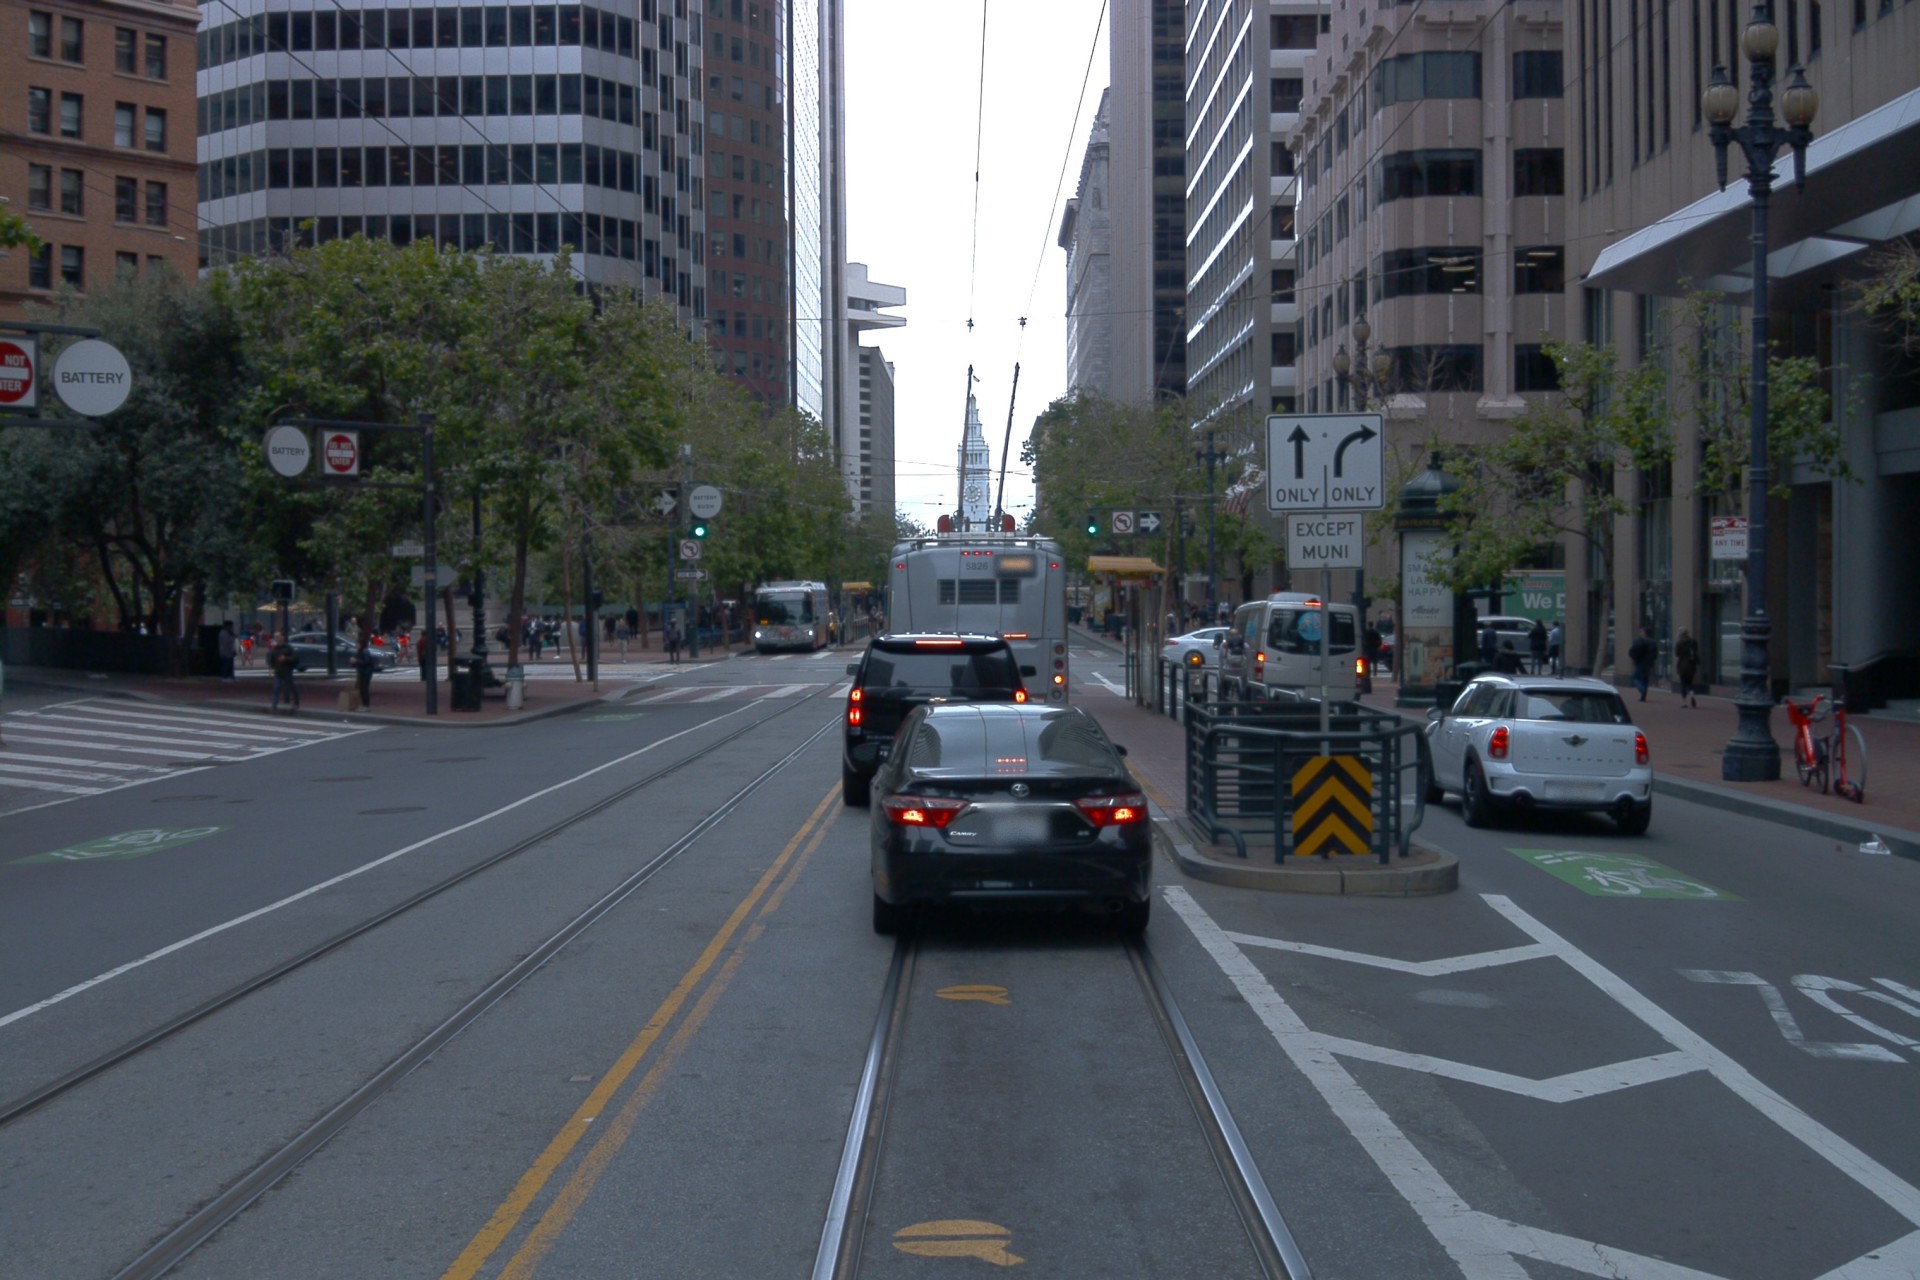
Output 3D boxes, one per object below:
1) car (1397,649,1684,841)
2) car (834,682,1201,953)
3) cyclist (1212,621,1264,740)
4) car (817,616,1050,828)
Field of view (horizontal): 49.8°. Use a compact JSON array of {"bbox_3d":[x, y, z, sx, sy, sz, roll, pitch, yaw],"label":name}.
[{"bbox_3d":[6.005,1.021,21.868,2.075,1.784,3.877,0,1,2],"label":"car"},{"bbox_3d":[0.244,1.107,14.707,2.188,1.460,4.687,0,1,-3],"label":"car"},{"bbox_3d":[4.545,0.639,33.897,0.638,1.900,1.439,0,1,0],"label":"cyclist"},{"bbox_3d":[-0.238,0.788,23.309,2.308,2.100,5.442,0,1,1],"label":"car"}]
